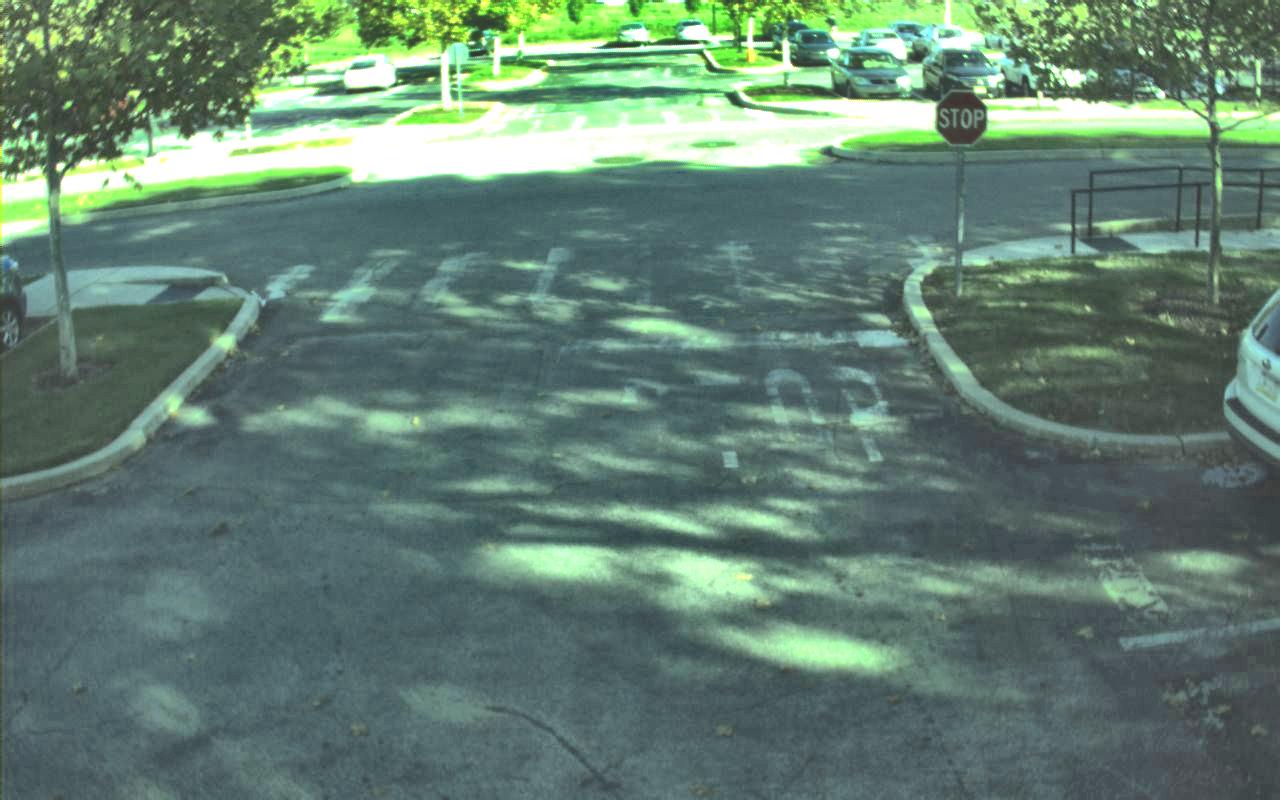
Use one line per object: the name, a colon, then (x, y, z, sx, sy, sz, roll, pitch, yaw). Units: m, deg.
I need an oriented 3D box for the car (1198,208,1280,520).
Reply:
car: (6.506, -0.368, 7.823, 4.404, 1.684, 1.967, -2, 16, -3)

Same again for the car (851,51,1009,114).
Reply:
car: (8.397, -9.211, 35.187, 4.451, 1.647, 1.939, 0, 16, 4)
